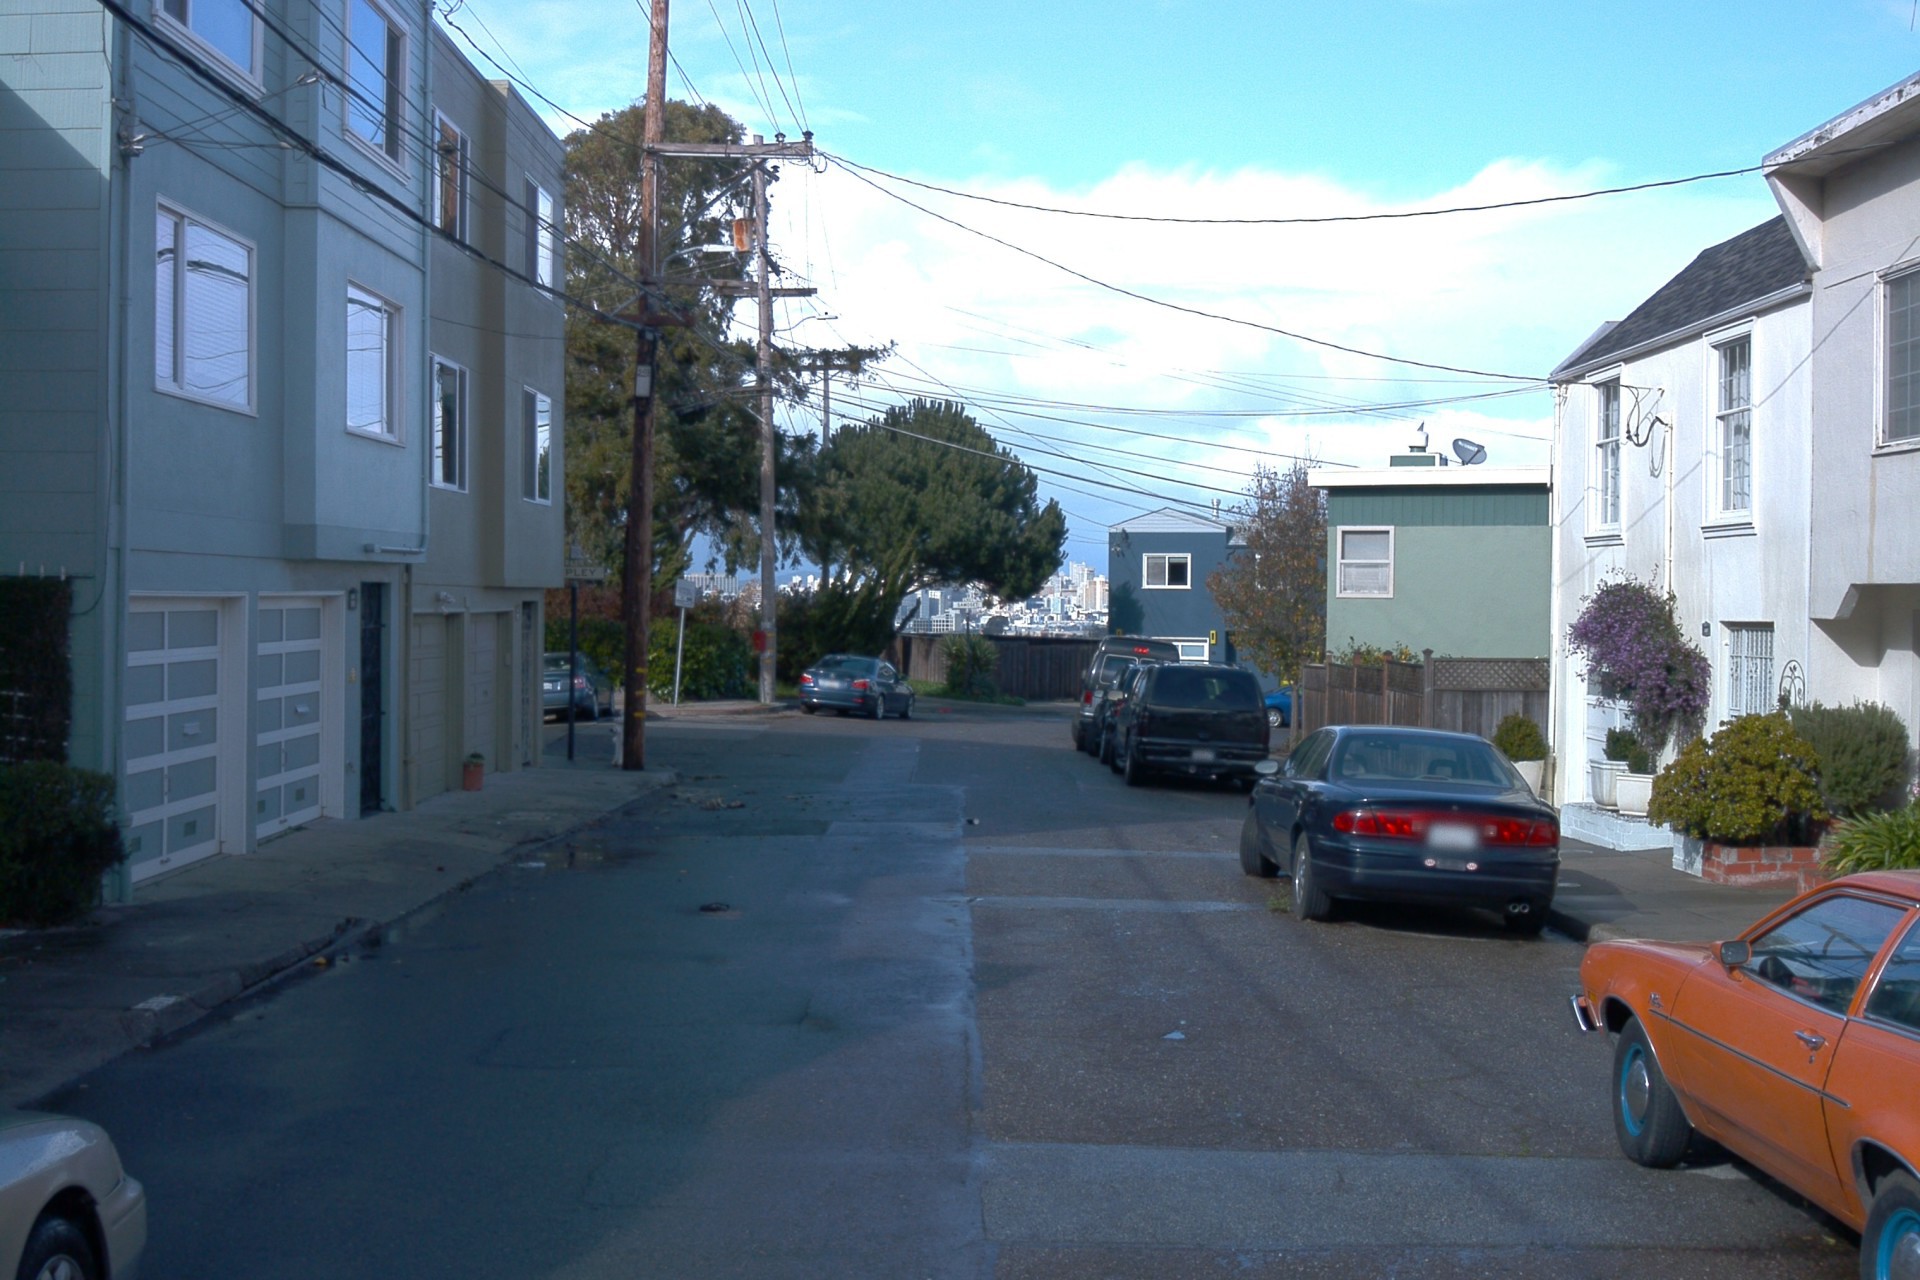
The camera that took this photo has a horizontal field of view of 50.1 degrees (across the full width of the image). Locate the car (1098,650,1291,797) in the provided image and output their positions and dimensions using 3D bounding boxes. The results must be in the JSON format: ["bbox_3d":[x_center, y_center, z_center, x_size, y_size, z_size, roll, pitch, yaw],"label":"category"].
[{"bbox_3d":[3.387,1.157,30.759,2.280,1.880,5.115,1,1,0],"label":"car"}]

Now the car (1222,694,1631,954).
[{"bbox_3d":[3.463,1.309,16.353,2.124,1.510,4.928,1,1,0],"label":"car"}]
